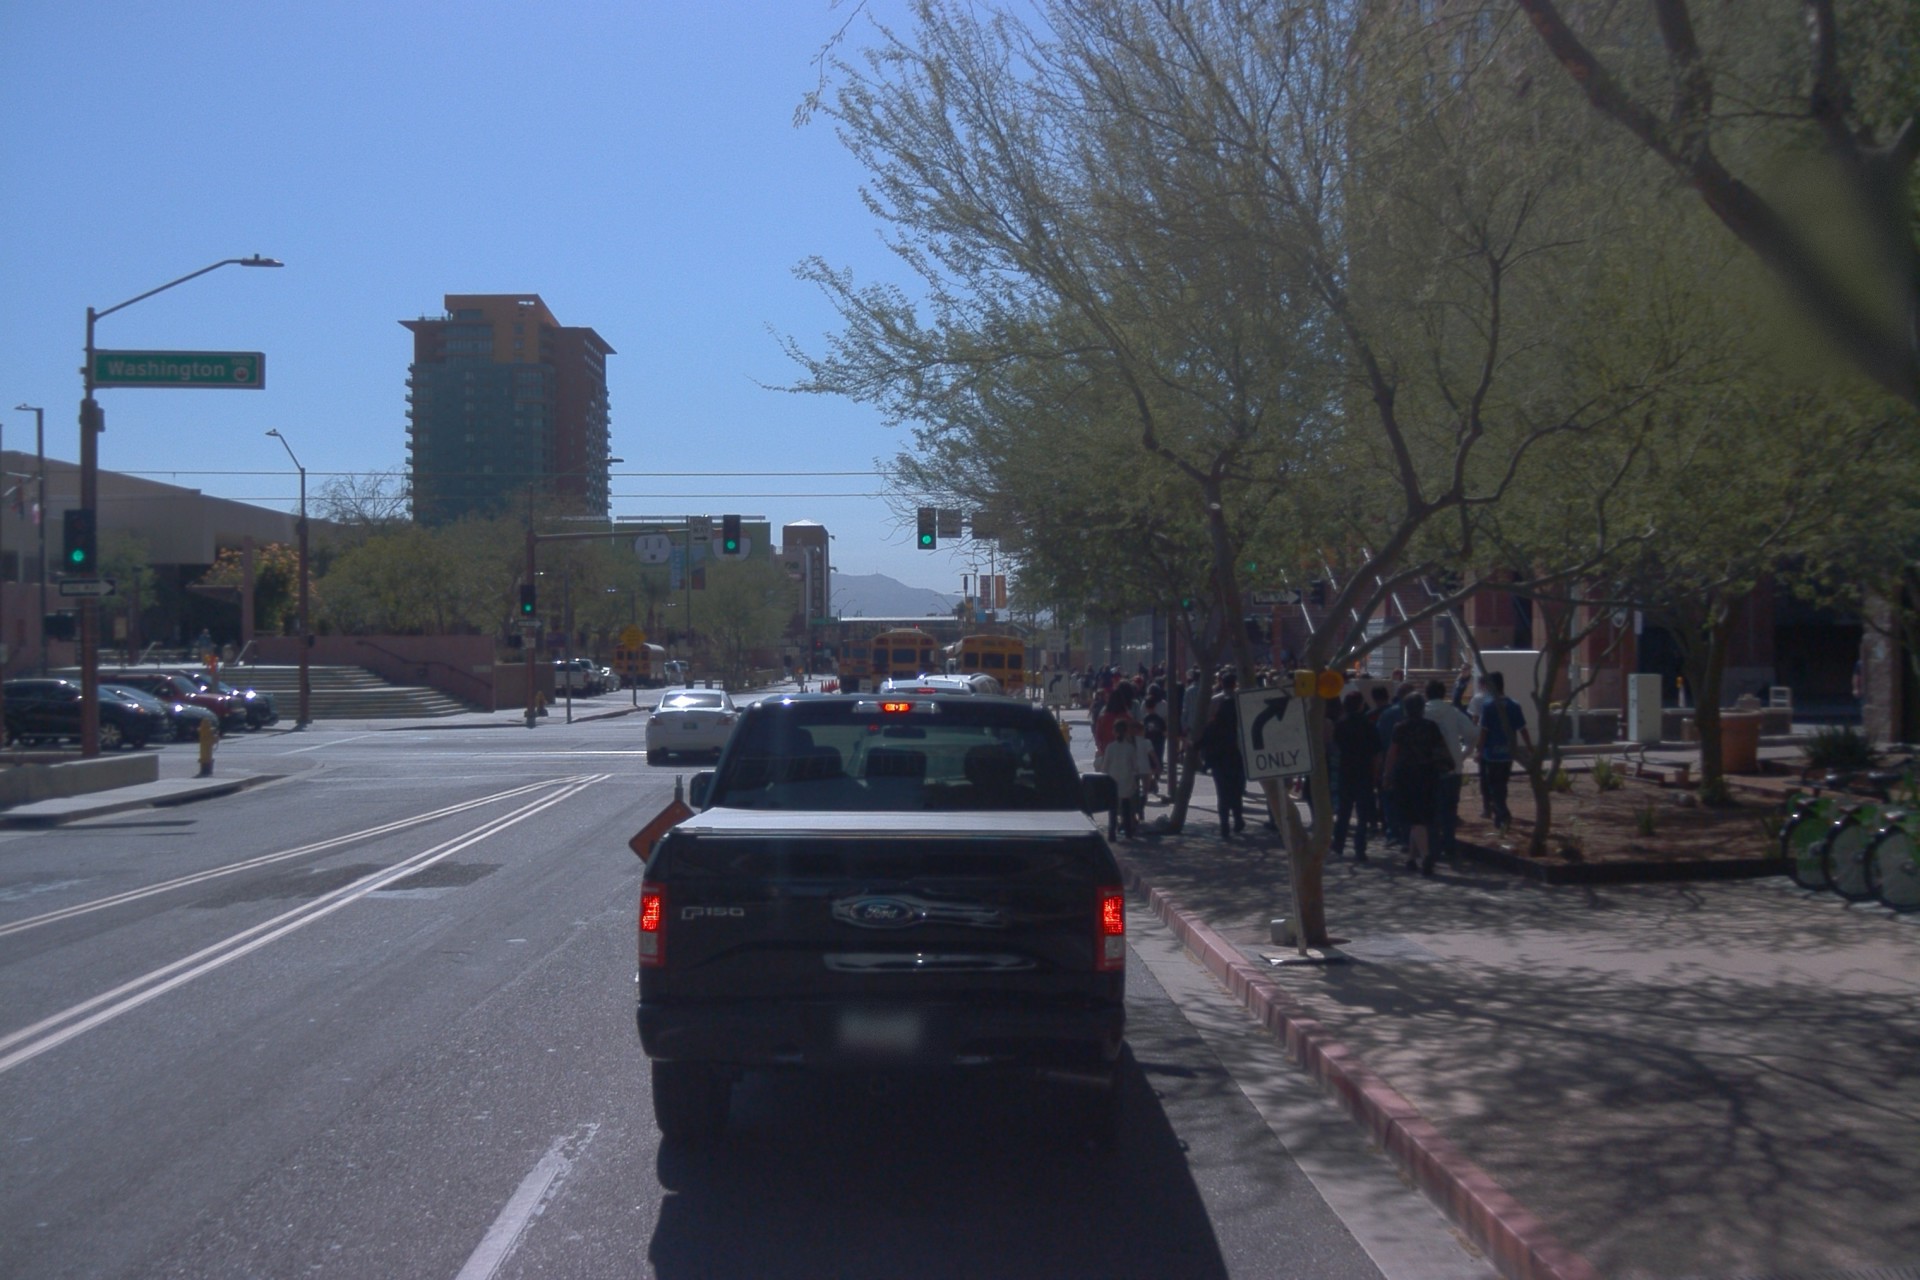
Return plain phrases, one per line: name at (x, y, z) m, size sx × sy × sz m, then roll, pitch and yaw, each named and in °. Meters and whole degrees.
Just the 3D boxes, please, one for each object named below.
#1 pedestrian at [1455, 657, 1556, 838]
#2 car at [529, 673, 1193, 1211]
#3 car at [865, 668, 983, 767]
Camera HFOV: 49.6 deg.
pedestrian at (5.778, 1.127, 22.073) m, size 0.835 × 1.880 × 0.792 m, roll 0°, pitch 0°, yaw -2°
car at (-0.356, 1.175, 10.475) m, size 2.486 × 1.950 × 5.329 m, roll 0°, pitch 0°, yaw 0°
car at (-0.516, 1.180, 33.159) m, size 1.753 × 1.430 × 4.270 m, roll 0°, pitch 0°, yaw 1°
